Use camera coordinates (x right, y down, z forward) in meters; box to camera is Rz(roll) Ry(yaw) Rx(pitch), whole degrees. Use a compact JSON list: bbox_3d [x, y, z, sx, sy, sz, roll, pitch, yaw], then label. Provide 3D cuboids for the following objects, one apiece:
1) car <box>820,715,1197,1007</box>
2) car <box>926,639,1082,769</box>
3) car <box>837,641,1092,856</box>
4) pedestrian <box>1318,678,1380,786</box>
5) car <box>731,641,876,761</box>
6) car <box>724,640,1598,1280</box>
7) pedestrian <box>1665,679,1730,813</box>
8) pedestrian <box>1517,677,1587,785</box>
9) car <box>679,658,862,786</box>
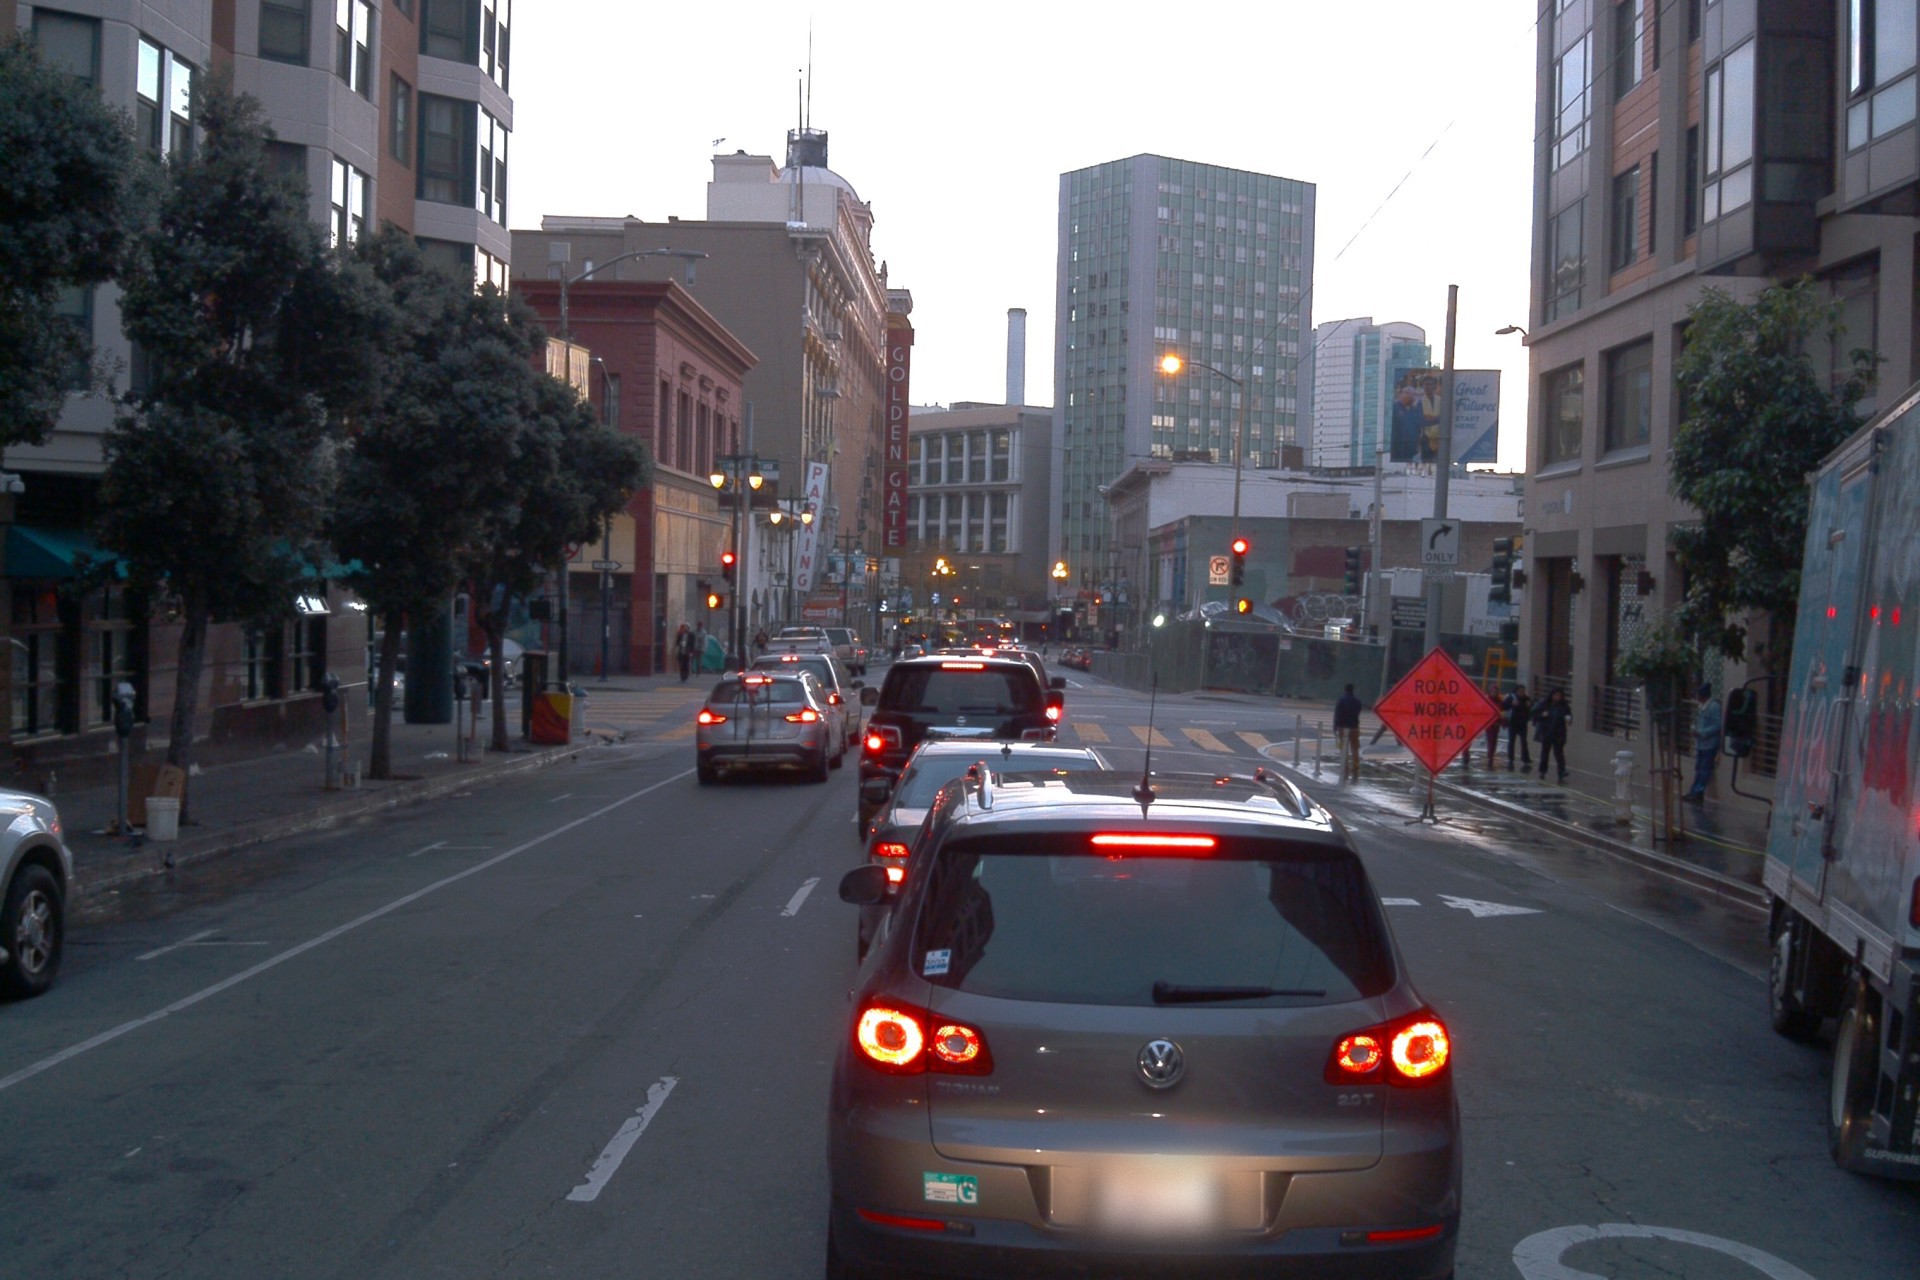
[{"bbox_3d":[0.292,1.323,13.592,2.089,1.400,4.279,1,1,1],"label":"car"},{"bbox_3d":[0.622,0.853,29.391,2.036,1.650,4.678,1,1,1],"label":"car"},{"bbox_3d":[0.036,1.027,21.904,2.368,1.940,5.339,1,1,0],"label":"car"},{"bbox_3d":[6.687,1.573,35.069,0.777,1.790,0.924,1,1,-5],"label":"pedestrian"},{"bbox_3d":[-2.657,0.994,35.547,1.896,1.880,4.462,1,1,4],"label":"car"},{"bbox_3d":[0.546,1.061,7.023,2.109,2.050,3.981,1,1,2],"label":"car"},{"bbox_3d":[10.762,1.531,29.715,0.659,1.890,0.755,1,1,4],"label":"pedestrian"},{"bbox_3d":[10.044,1.534,34.575,0.879,1.760,0.905,1,1,1],"label":"pedestrian"},{"bbox_3d":[-2.614,1.108,29.101,2.110,1.572,4.118,1,1,1],"label":"car"}]
